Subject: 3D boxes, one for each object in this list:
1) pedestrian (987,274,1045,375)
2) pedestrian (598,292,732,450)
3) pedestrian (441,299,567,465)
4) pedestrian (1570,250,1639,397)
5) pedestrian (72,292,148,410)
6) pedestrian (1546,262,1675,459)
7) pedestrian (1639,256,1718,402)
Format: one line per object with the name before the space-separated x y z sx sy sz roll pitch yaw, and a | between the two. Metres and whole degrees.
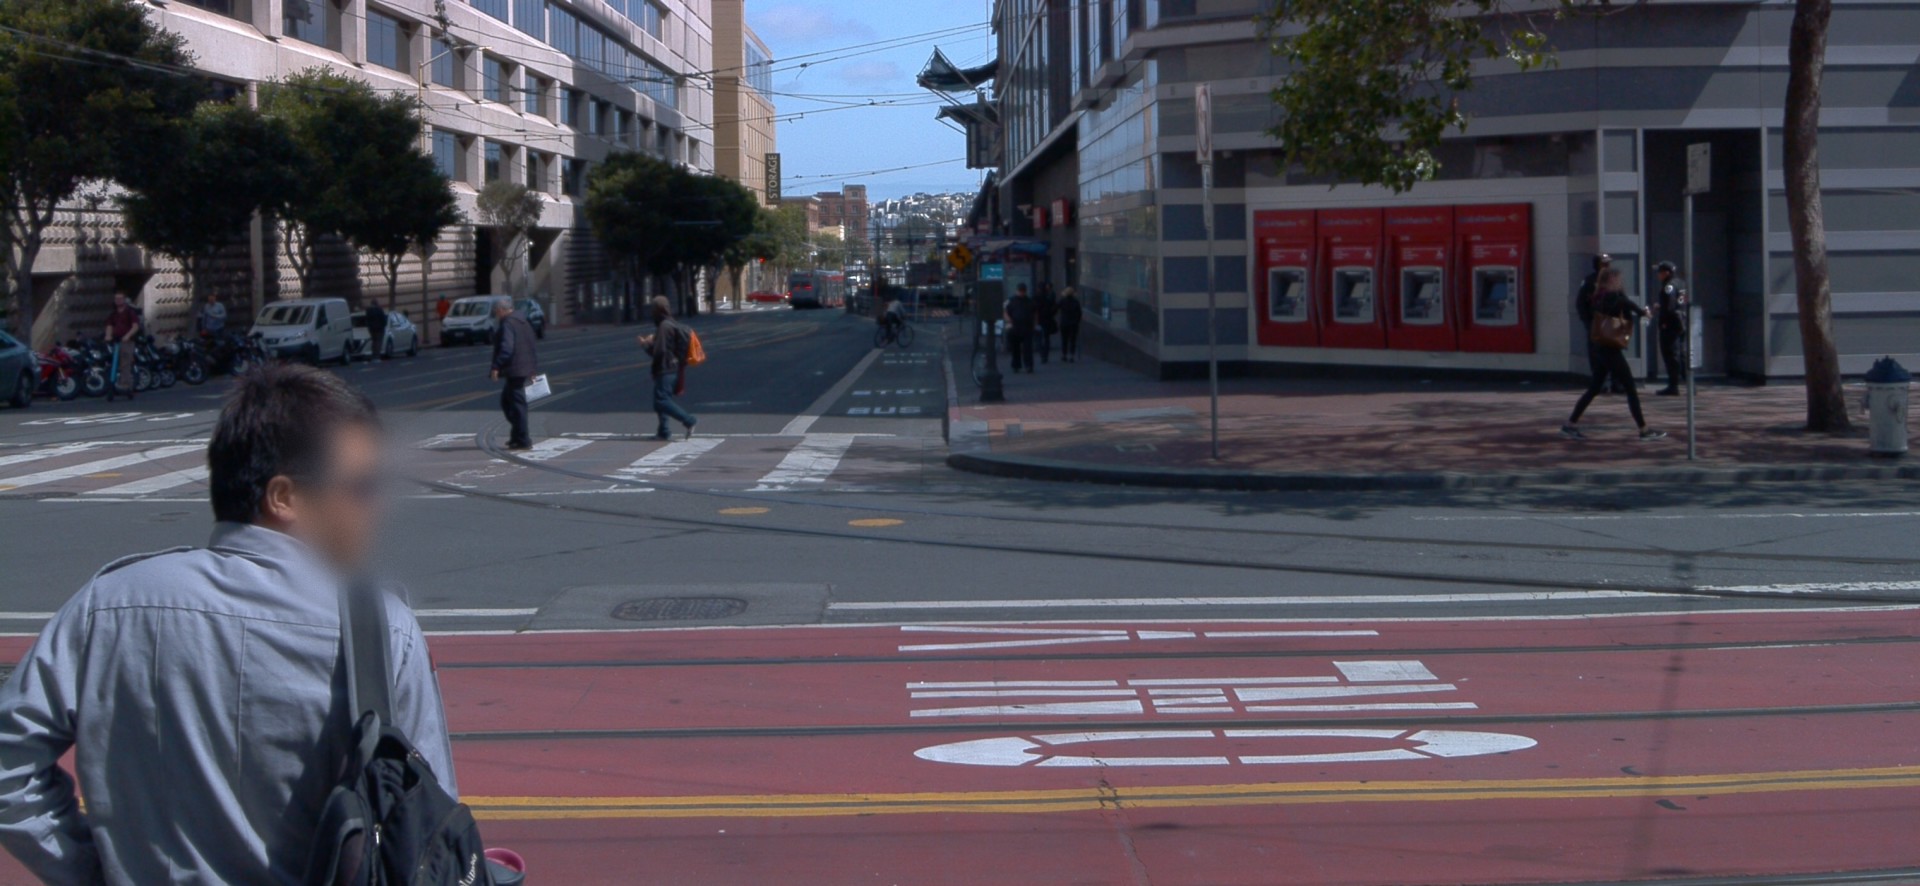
pedestrian | 1.005 -2.155 37.369 0.941 1.766 1.012 -1 3 -4
pedestrian | -3.486 -0.879 24.511 1.156 1.766 1.188 0 3 18
pedestrian | -5.060 -0.701 22.980 1.095 1.766 0.864 0 2 12
pedestrian | 7.974 -1.491 25.581 0.723 1.766 0.684 0 2 9
pedestrian | -15.139 -1.659 36.844 0.803 2.015 1.222 0 3 2
pedestrian | 6.407 -0.838 20.406 1.137 1.866 0.847 0 2 12
pedestrian | 8.682 -1.398 24.969 0.696 1.696 0.803 1 3 37
